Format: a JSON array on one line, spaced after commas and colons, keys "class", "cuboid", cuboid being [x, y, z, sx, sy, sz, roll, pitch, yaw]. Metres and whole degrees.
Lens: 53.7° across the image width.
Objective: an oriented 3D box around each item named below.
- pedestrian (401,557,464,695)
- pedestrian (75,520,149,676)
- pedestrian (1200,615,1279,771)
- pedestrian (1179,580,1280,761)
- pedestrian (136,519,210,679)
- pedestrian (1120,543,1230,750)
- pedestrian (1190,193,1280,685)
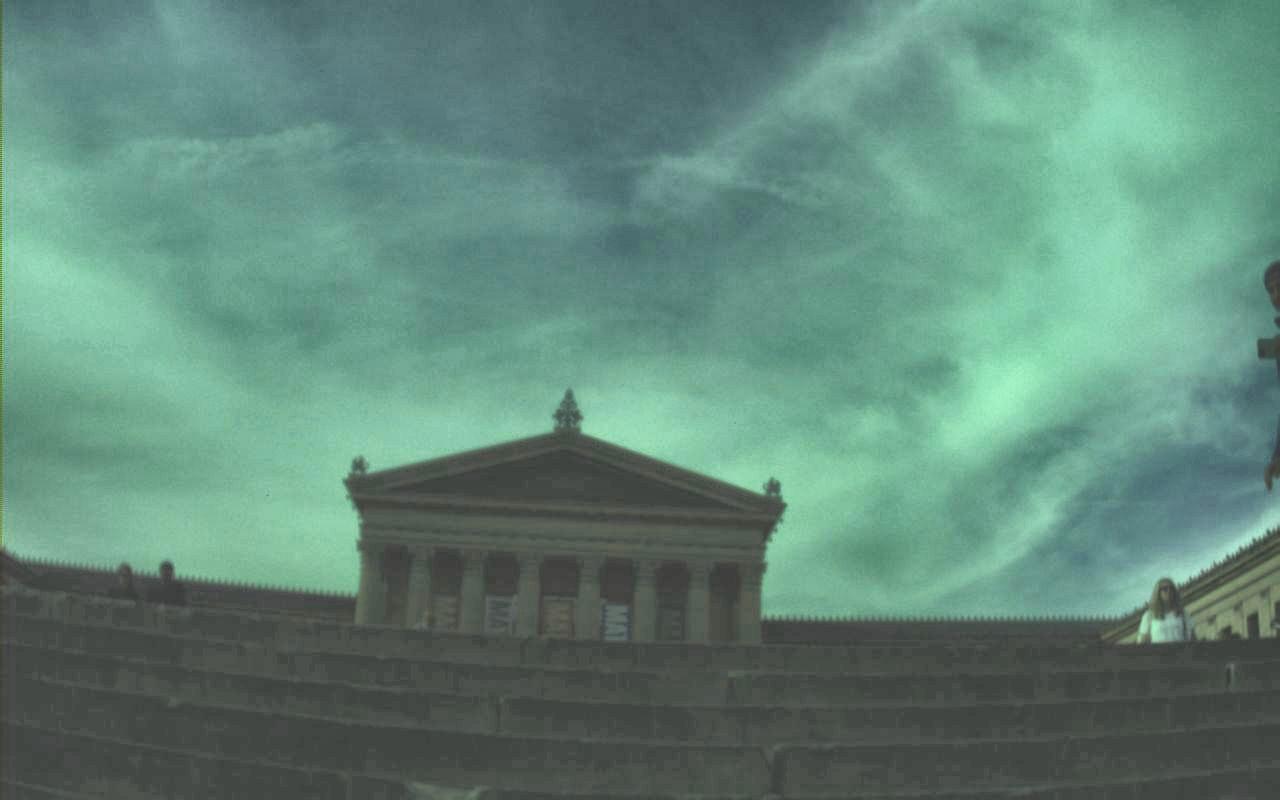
[{"class": "pedestrian", "cuboid": [-2.901, 3.151, 17.088, 0.677, 1.814, 0.683, 0, 0, -28]}, {"class": "pedestrian", "cuboid": [-6.389, 2.415, 13.808, 0.738, 1.796, 0.721, 0, 0, -15]}, {"class": "pedestrian", "cuboid": [7.122, 3.536, 13.165, 0.794, 1.757, 0.800, 1, 0, 24]}, {"class": "pedestrian", "cuboid": [6.183, 2.833, 11.555, 0.847, 1.718, 0.886, 0, 0, 3]}, {"class": "pedestrian", "cuboid": [-5.569, 2.389, 13.875, 0.816, 1.821, 0.736, 0, 0, -21]}, {"class": "pedestrian", "cuboid": [4.842, 2.255, 10.381, 0.797, 1.769, 0.806, 0, 0, 14]}, {"class": "pedestrian", "cuboid": [2.723, 0.166, 4.562, 0.752, 1.876, 0.787, 0, 0, 11]}]
